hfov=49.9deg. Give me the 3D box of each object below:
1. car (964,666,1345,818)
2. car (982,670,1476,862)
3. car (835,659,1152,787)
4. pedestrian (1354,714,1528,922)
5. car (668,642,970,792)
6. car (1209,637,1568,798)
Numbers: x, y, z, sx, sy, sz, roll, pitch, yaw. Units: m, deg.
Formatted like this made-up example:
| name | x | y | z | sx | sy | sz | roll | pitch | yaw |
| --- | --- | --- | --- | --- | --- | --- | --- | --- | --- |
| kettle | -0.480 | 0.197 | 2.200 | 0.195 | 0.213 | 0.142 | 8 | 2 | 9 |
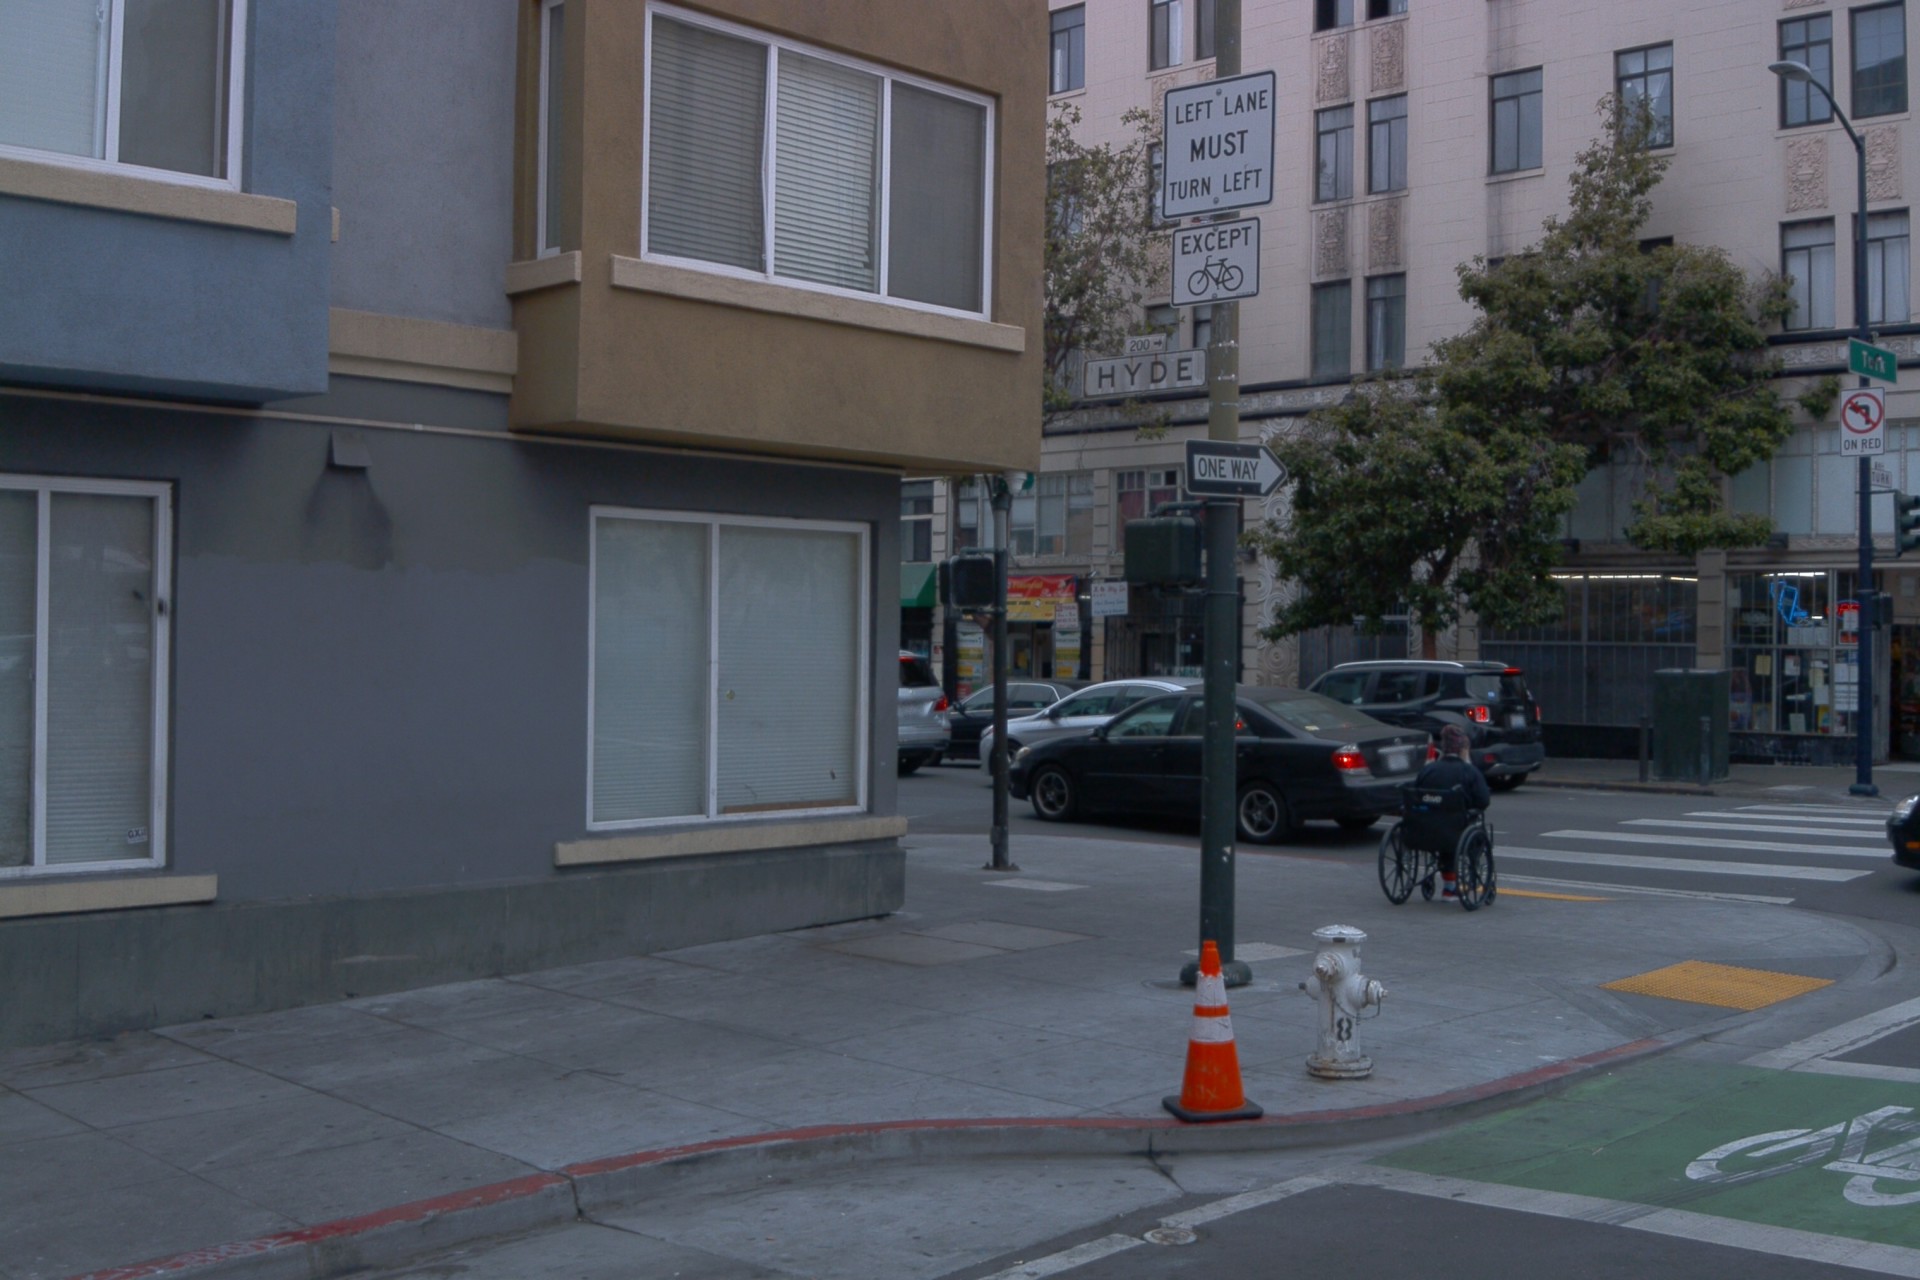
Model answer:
| name | x | y | z | sx | sy | sz | roll | pitch | yaw |
| --- | --- | --- | --- | --- | --- | --- | --- | --- | --- |
| car | 2.349 | 1.196 | 25.901 | 1.939 | 1.600 | 4.599 | -1 | 1 | -44 |
| car | 2.675 | 1.194 | 21.402 | 4.803 | 1.600 | 2.070 | 1 | 1 | 45 |
| car | 0.457 | 1.221 | 32.324 | 4.786 | 1.723 | 2.180 | 1 | 1 | 45 |
| pedestrian | 3.505 | 1.263 | 15.016 | 0.883 | 1.370 | 1.026 | 1 | 1 | 38 |
| car | -2.162 | 1.054 | 30.612 | 2.026 | 1.970 | 4.585 | -1 | 1 | -43 |
| car | 5.542 | 0.928 | 27.046 | 1.925 | 1.870 | 4.231 | -1 | 1 | -45 |
